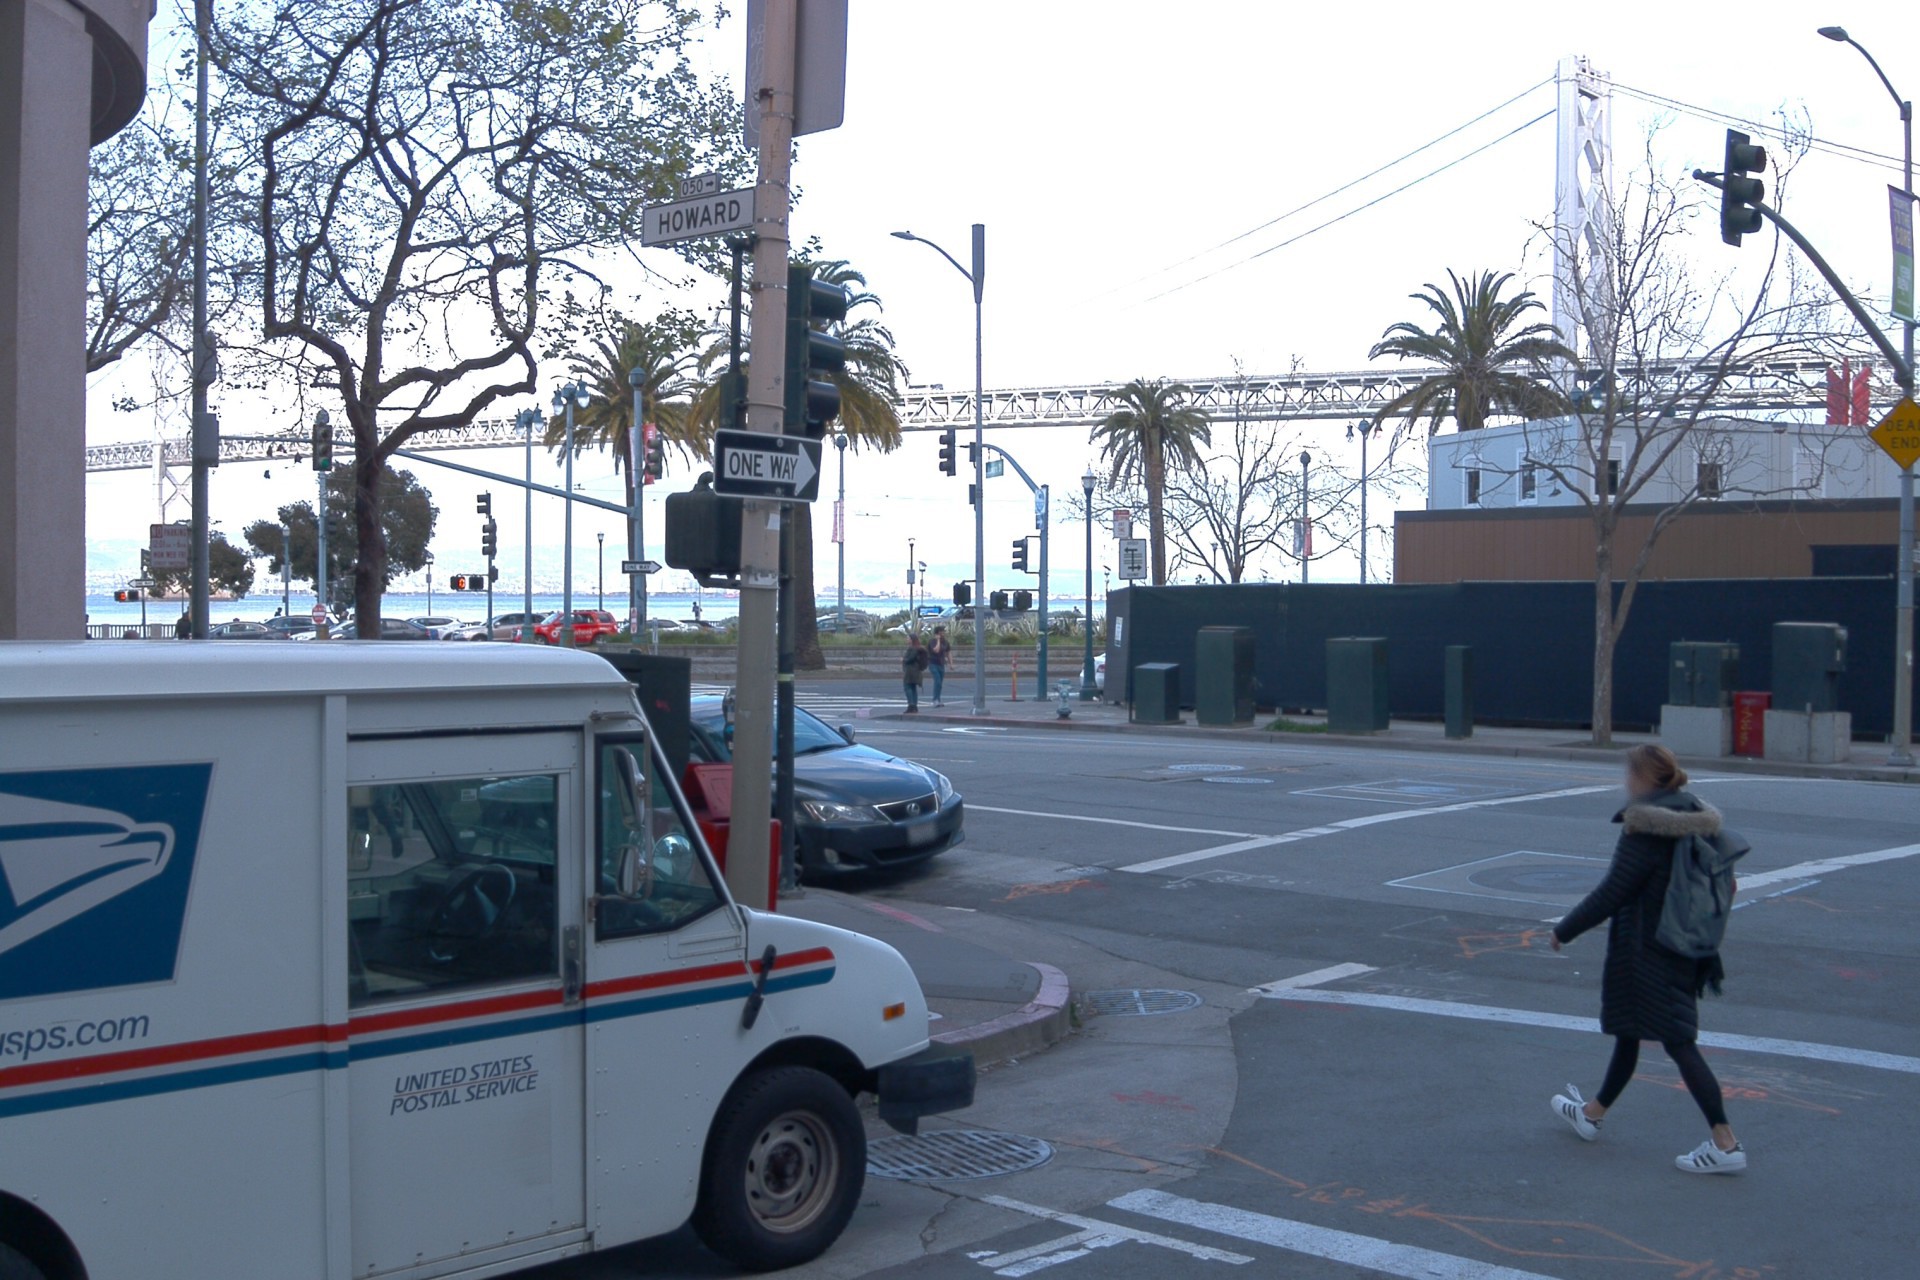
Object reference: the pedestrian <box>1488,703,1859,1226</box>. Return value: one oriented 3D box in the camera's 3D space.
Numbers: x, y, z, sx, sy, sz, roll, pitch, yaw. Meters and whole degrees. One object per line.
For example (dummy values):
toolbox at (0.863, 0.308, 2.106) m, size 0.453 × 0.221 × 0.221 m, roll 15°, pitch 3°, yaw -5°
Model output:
pedestrian at (2.765, 1.181, 8.021) m, size 0.805 × 1.810 × 1.089 m, roll -1°, pitch 1°, yaw -38°

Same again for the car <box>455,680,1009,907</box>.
car at (-2.064, 1.186, 17.629) m, size 4.756 × 1.510 × 2.075 m, roll 1°, pitch 1°, yaw 42°
